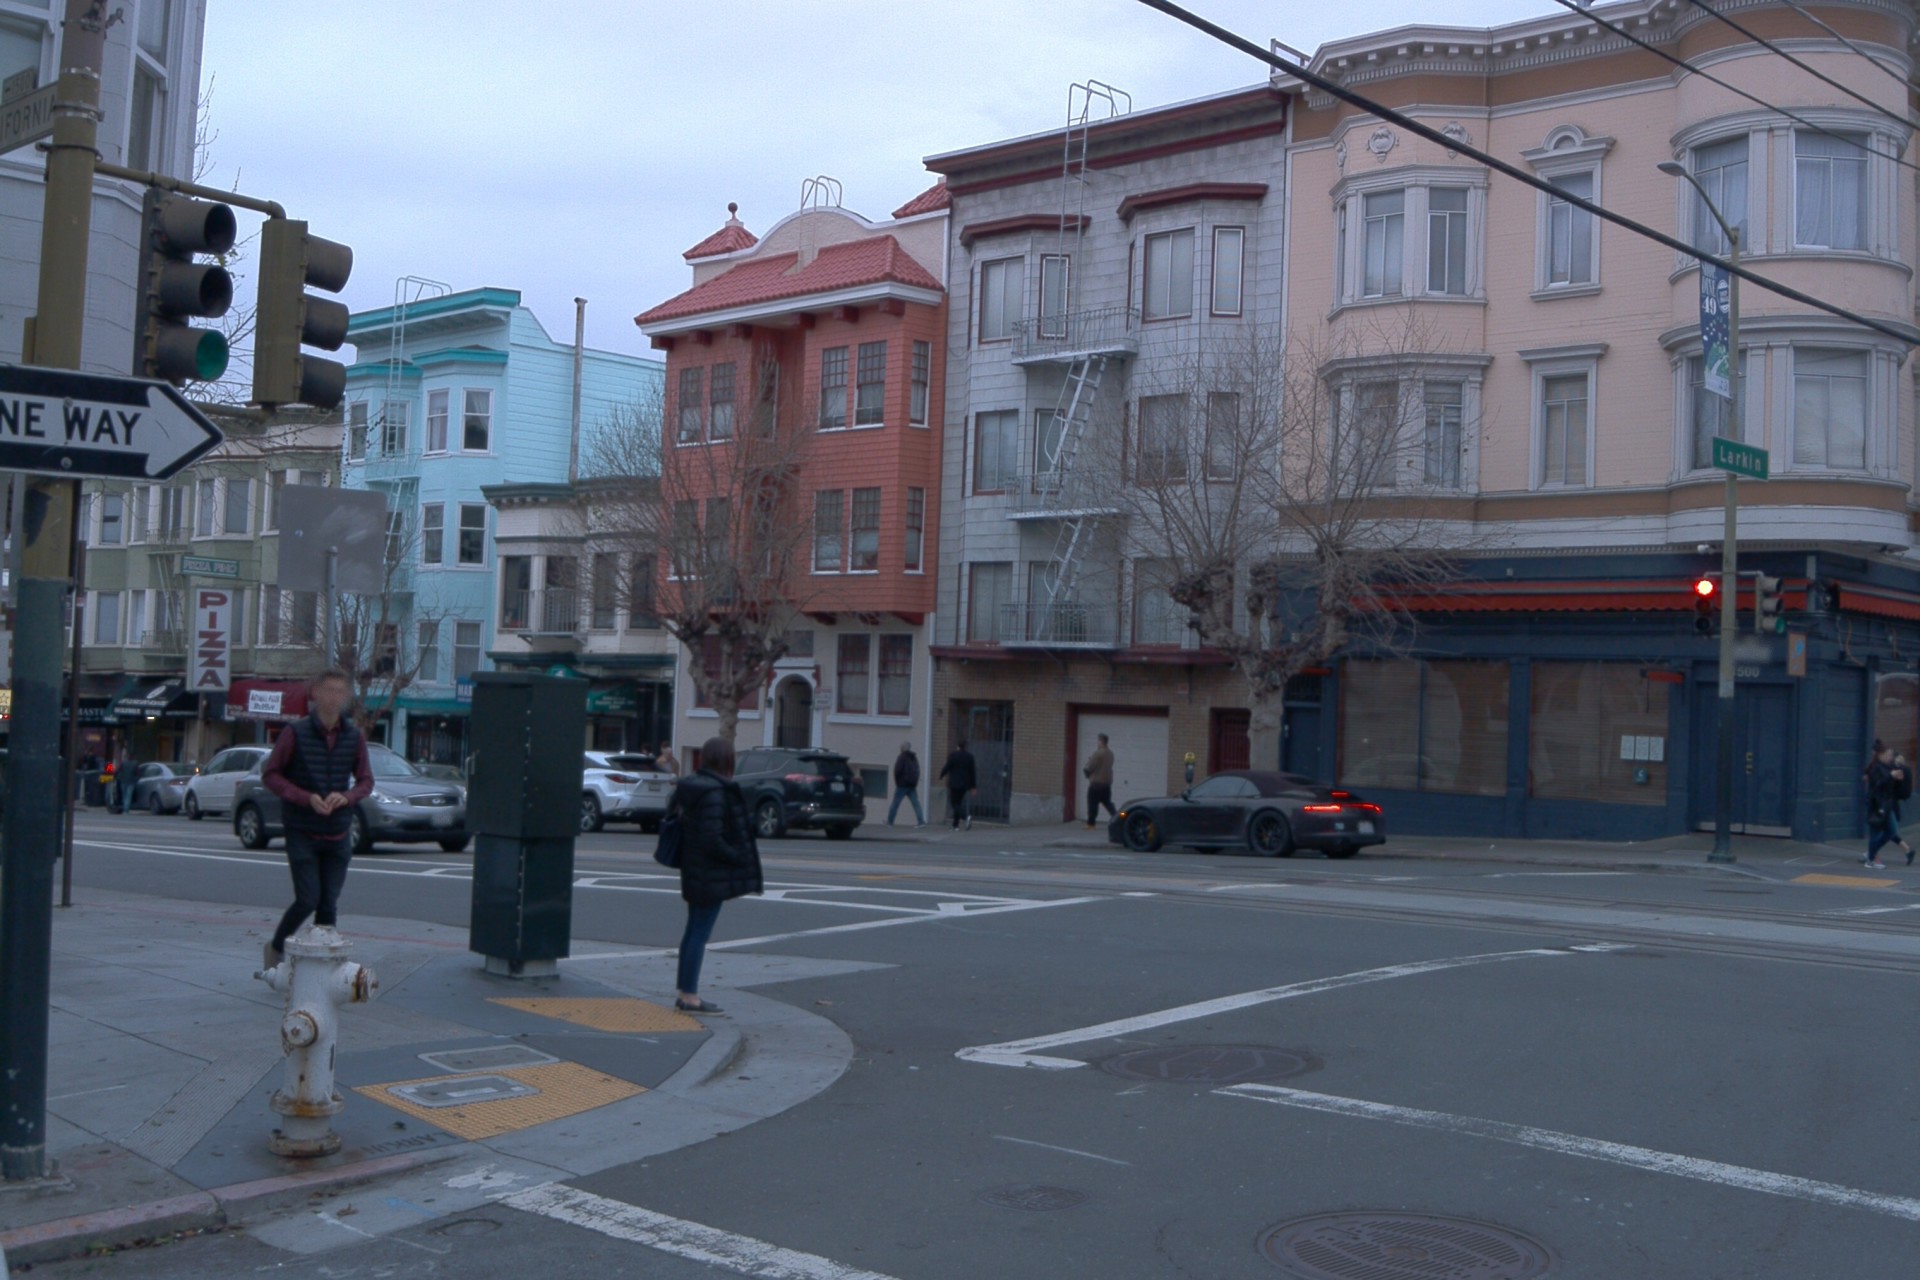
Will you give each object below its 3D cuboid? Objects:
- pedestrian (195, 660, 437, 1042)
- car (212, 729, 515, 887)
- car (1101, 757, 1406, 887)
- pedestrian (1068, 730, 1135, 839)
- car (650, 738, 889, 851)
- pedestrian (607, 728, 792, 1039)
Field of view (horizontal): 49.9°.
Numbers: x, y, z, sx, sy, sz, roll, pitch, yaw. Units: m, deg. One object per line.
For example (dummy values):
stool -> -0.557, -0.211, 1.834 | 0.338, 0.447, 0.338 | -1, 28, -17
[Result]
pedestrian -> -3.542, 1.090, 11.322 | 0.804, 1.922, 1.262 | -1, 1, -42
car -> -8.714, 2.349, 29.954 | 4.671, 1.830, 2.108 | 1, 1, 43
car -> 4.281, 2.628, 30.588 | 1.947, 1.460, 4.186 | -1, 1, -43
pedestrian -> 2.611, 2.654, 38.021 | 0.789, 1.900, 0.946 | -1, 1, -43
car -> -3.623, 2.833, 38.769 | 4.423, 1.700, 2.100 | 1, 1, 44
pedestrian -> -1.536, 1.394, 12.153 | 0.846, 1.692, 0.707 | -1, 1, -34
